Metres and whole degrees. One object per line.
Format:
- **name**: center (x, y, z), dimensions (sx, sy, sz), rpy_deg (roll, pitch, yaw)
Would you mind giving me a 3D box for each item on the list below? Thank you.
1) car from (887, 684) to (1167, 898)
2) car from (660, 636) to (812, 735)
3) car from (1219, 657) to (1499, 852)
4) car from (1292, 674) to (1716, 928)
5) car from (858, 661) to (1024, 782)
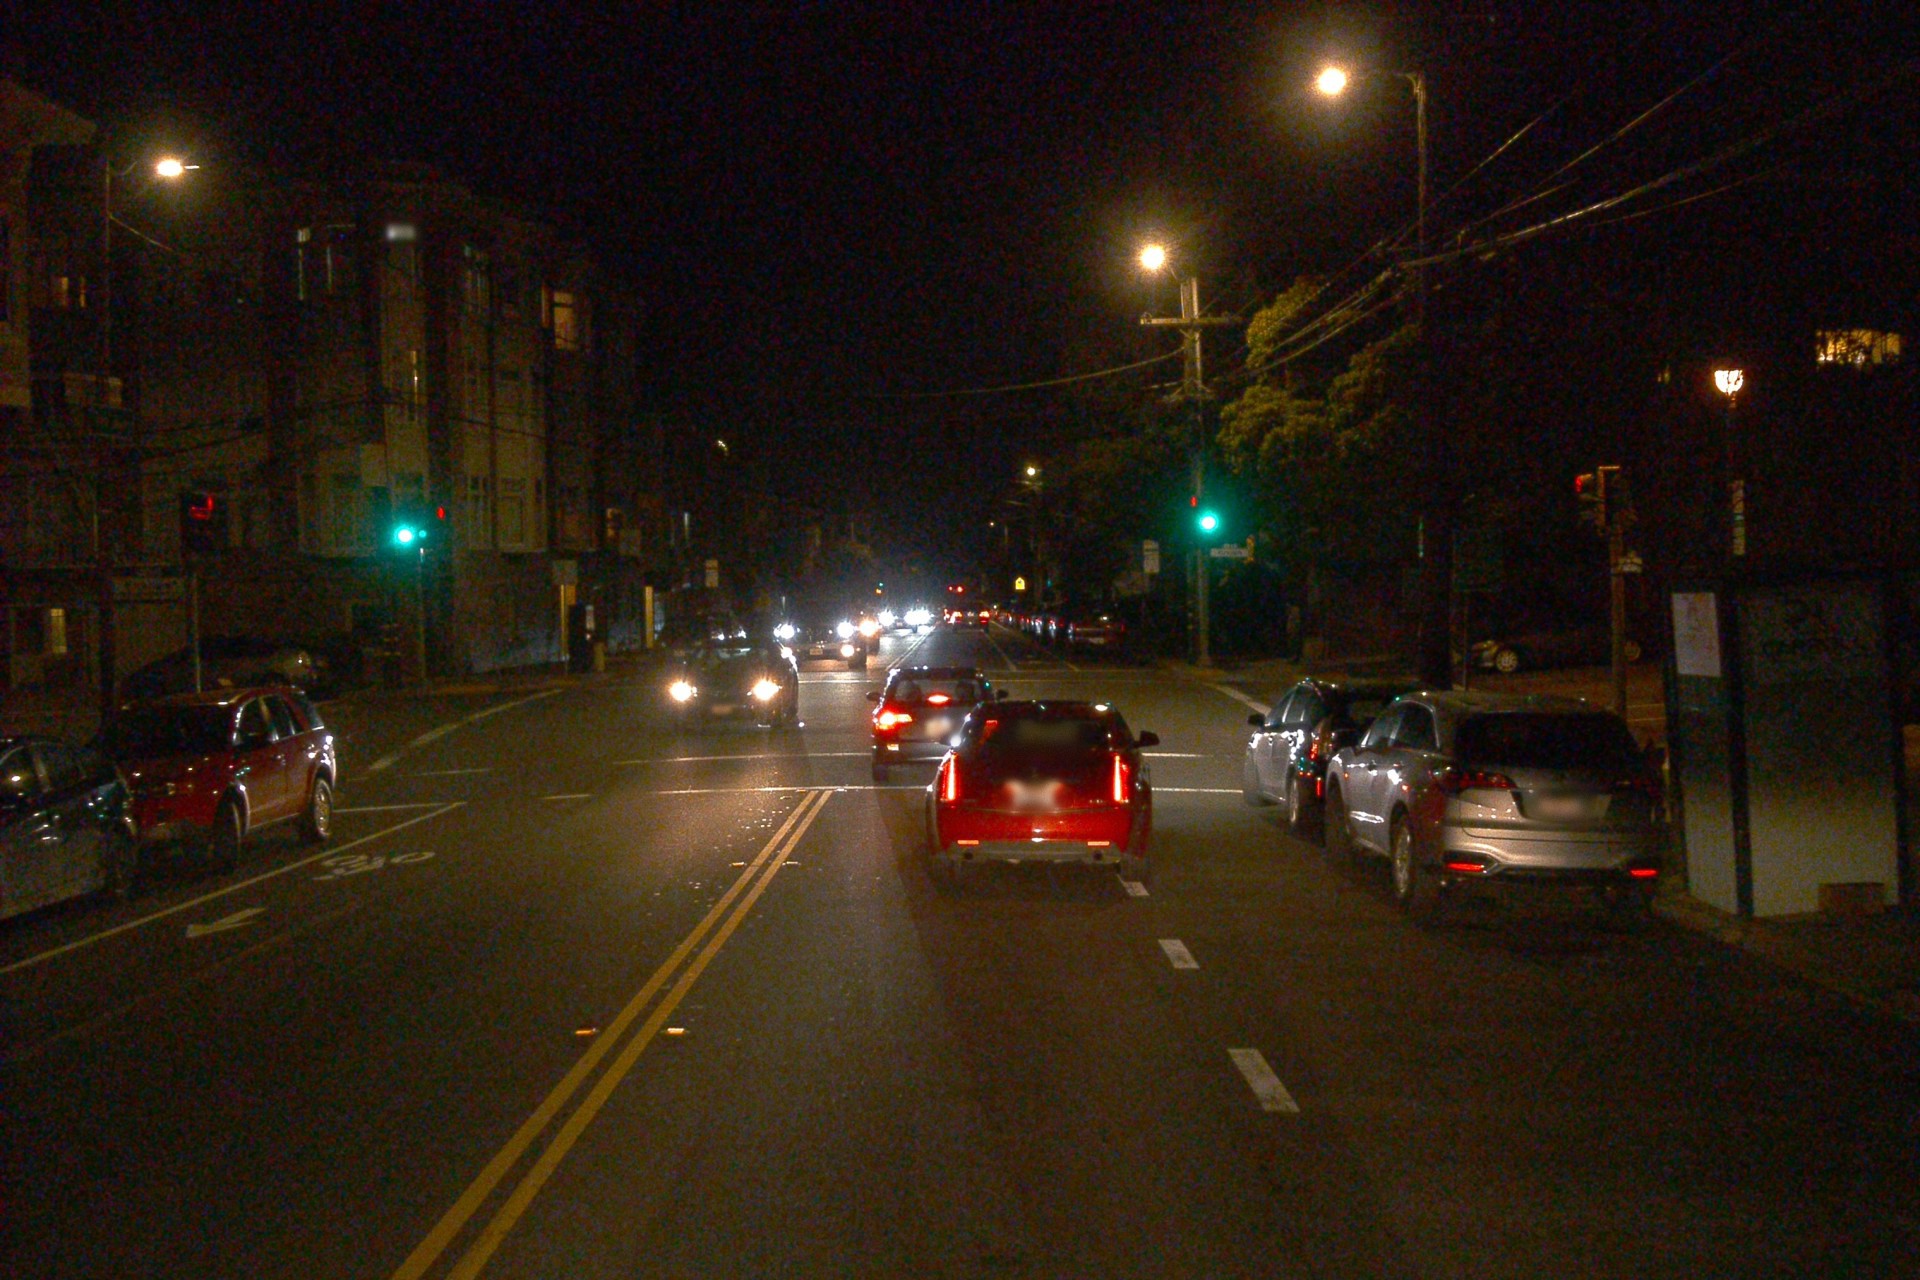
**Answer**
- **car**: center (0.726, 1.197, 17.881), dimensions (2.068, 1.490, 4.416), rpy_deg (1, 0, 7)
- **car**: center (-3.787, 0.735, 35.351), dimensions (2.084, 1.570, 4.661), rpy_deg (1, 0, 0)
- **car**: center (4.191, 1.135, 22.275), dimensions (2.084, 1.830, 4.587), rpy_deg (1, 0, -1)
- **car**: center (4.266, 1.188, 16.961), dimensions (2.250, 1.690, 4.768), rpy_deg (1, 0, 0)
- **car**: center (-0.289, 1.043, 27.879), dimensions (2.070, 1.420, 4.588), rpy_deg (0, 0, -1)
